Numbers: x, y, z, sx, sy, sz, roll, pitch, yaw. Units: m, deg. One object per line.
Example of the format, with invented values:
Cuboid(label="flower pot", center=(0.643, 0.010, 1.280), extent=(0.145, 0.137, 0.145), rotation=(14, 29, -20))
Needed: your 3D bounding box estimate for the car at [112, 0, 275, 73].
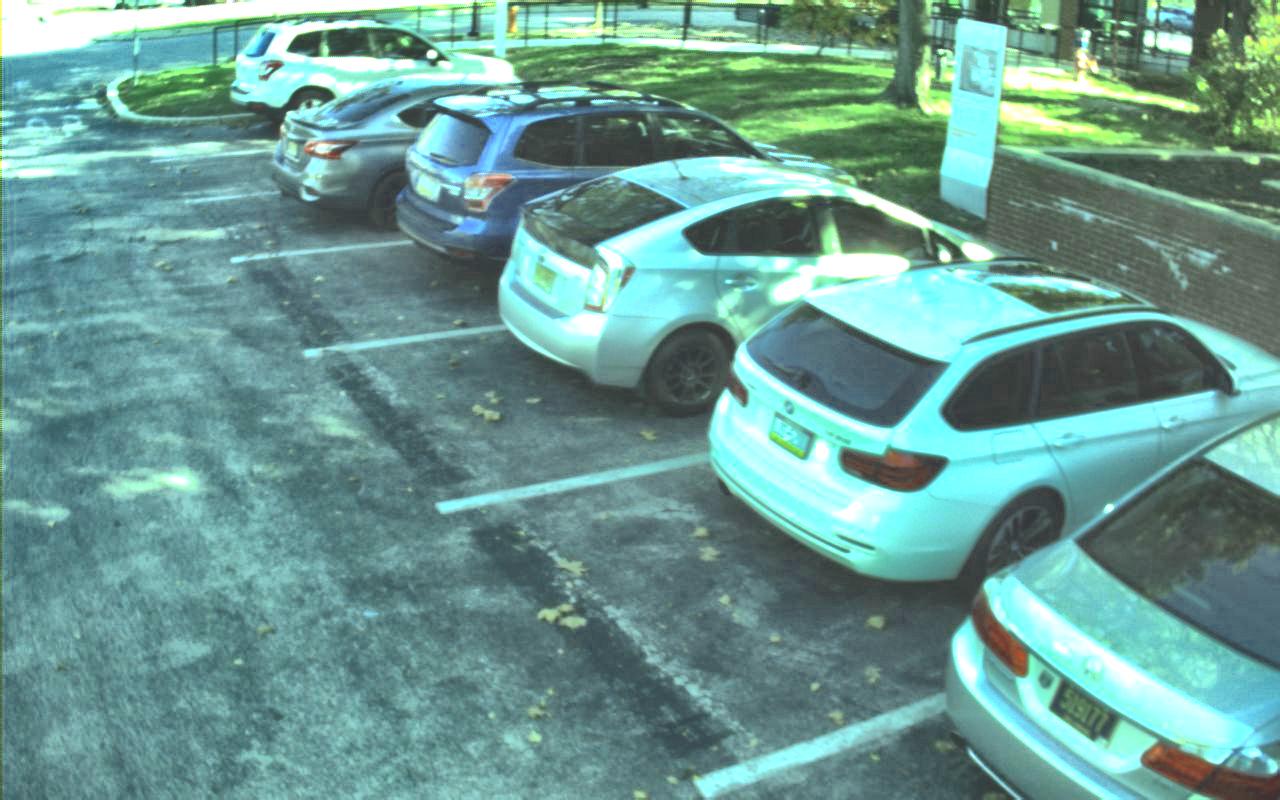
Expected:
Cuboid(label="car", center=(-12.375, -9.947, 31.707), extent=(4.523, 1.590, 1.935), rotation=(-9, 18, -26))

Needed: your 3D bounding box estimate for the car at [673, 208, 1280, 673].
Cuboid(label="car", center=(2.534, -0.092, 7.091), extent=(4.331, 1.557, 1.919), rotation=(-10, 19, -28))

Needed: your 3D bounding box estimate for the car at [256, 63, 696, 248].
Cuboid(label="car", center=(-1.801, -2.812, 13.538), extent=(4.494, 1.543, 1.930), rotation=(-11, 19, -30))

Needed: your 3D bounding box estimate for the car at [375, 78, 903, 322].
Cuboid(label="car", center=(0.080, -2.027, 11.495), extent=(4.559, 1.668, 1.974), rotation=(-11, 19, -30))

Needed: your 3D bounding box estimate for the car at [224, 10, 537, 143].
Cuboid(label="car", center=(-4.035, -5.020, 18.588), extent=(4.524, 1.669, 1.952), rotation=(-11, 19, -30))

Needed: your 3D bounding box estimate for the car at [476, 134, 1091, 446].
Cuboid(label="car", center=(1.197, -1.044, 9.325), extent=(4.368, 1.568, 1.902), rotation=(-10, 18, -27))
